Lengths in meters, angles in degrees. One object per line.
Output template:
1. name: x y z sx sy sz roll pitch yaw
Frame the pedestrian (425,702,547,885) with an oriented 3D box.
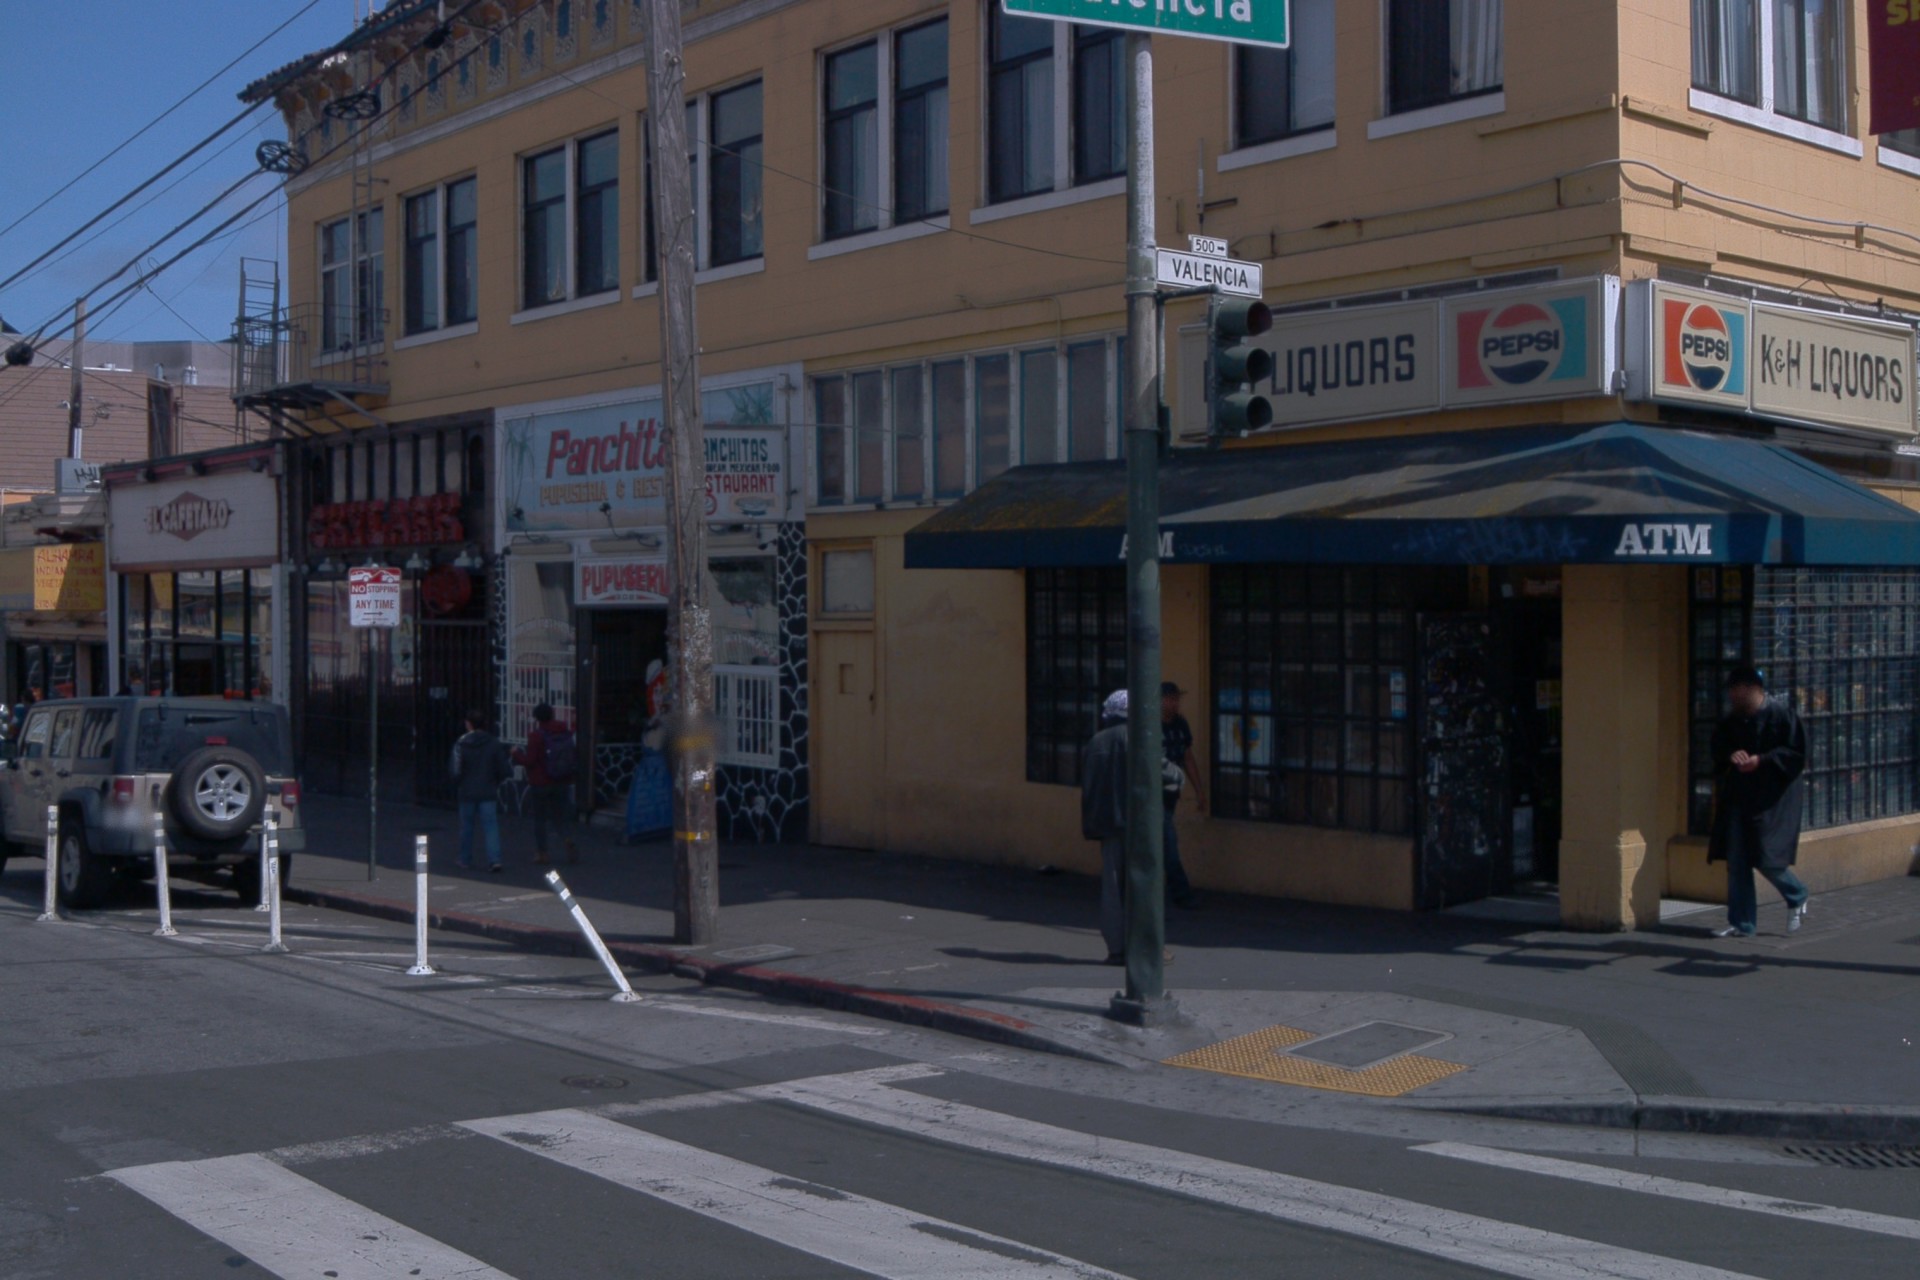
1. pedestrian: -4.499 1.431 19.480 0.879 1.630 0.917 -1 1 -31

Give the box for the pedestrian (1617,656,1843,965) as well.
1. pedestrian: 5.036 1.071 13.492 0.960 1.910 0.995 -1 1 -22

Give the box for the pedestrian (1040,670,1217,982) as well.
1. pedestrian: 1.059 1.124 12.859 0.908 1.850 0.711 0 1 26

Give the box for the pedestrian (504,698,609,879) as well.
1. pedestrian: -3.887 1.403 19.768 0.745 1.650 0.864 -1 1 -29

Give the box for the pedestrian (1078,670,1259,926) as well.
1. pedestrian: 1.592 1.167 15.708 0.932 1.830 1.015 -1 1 -43
